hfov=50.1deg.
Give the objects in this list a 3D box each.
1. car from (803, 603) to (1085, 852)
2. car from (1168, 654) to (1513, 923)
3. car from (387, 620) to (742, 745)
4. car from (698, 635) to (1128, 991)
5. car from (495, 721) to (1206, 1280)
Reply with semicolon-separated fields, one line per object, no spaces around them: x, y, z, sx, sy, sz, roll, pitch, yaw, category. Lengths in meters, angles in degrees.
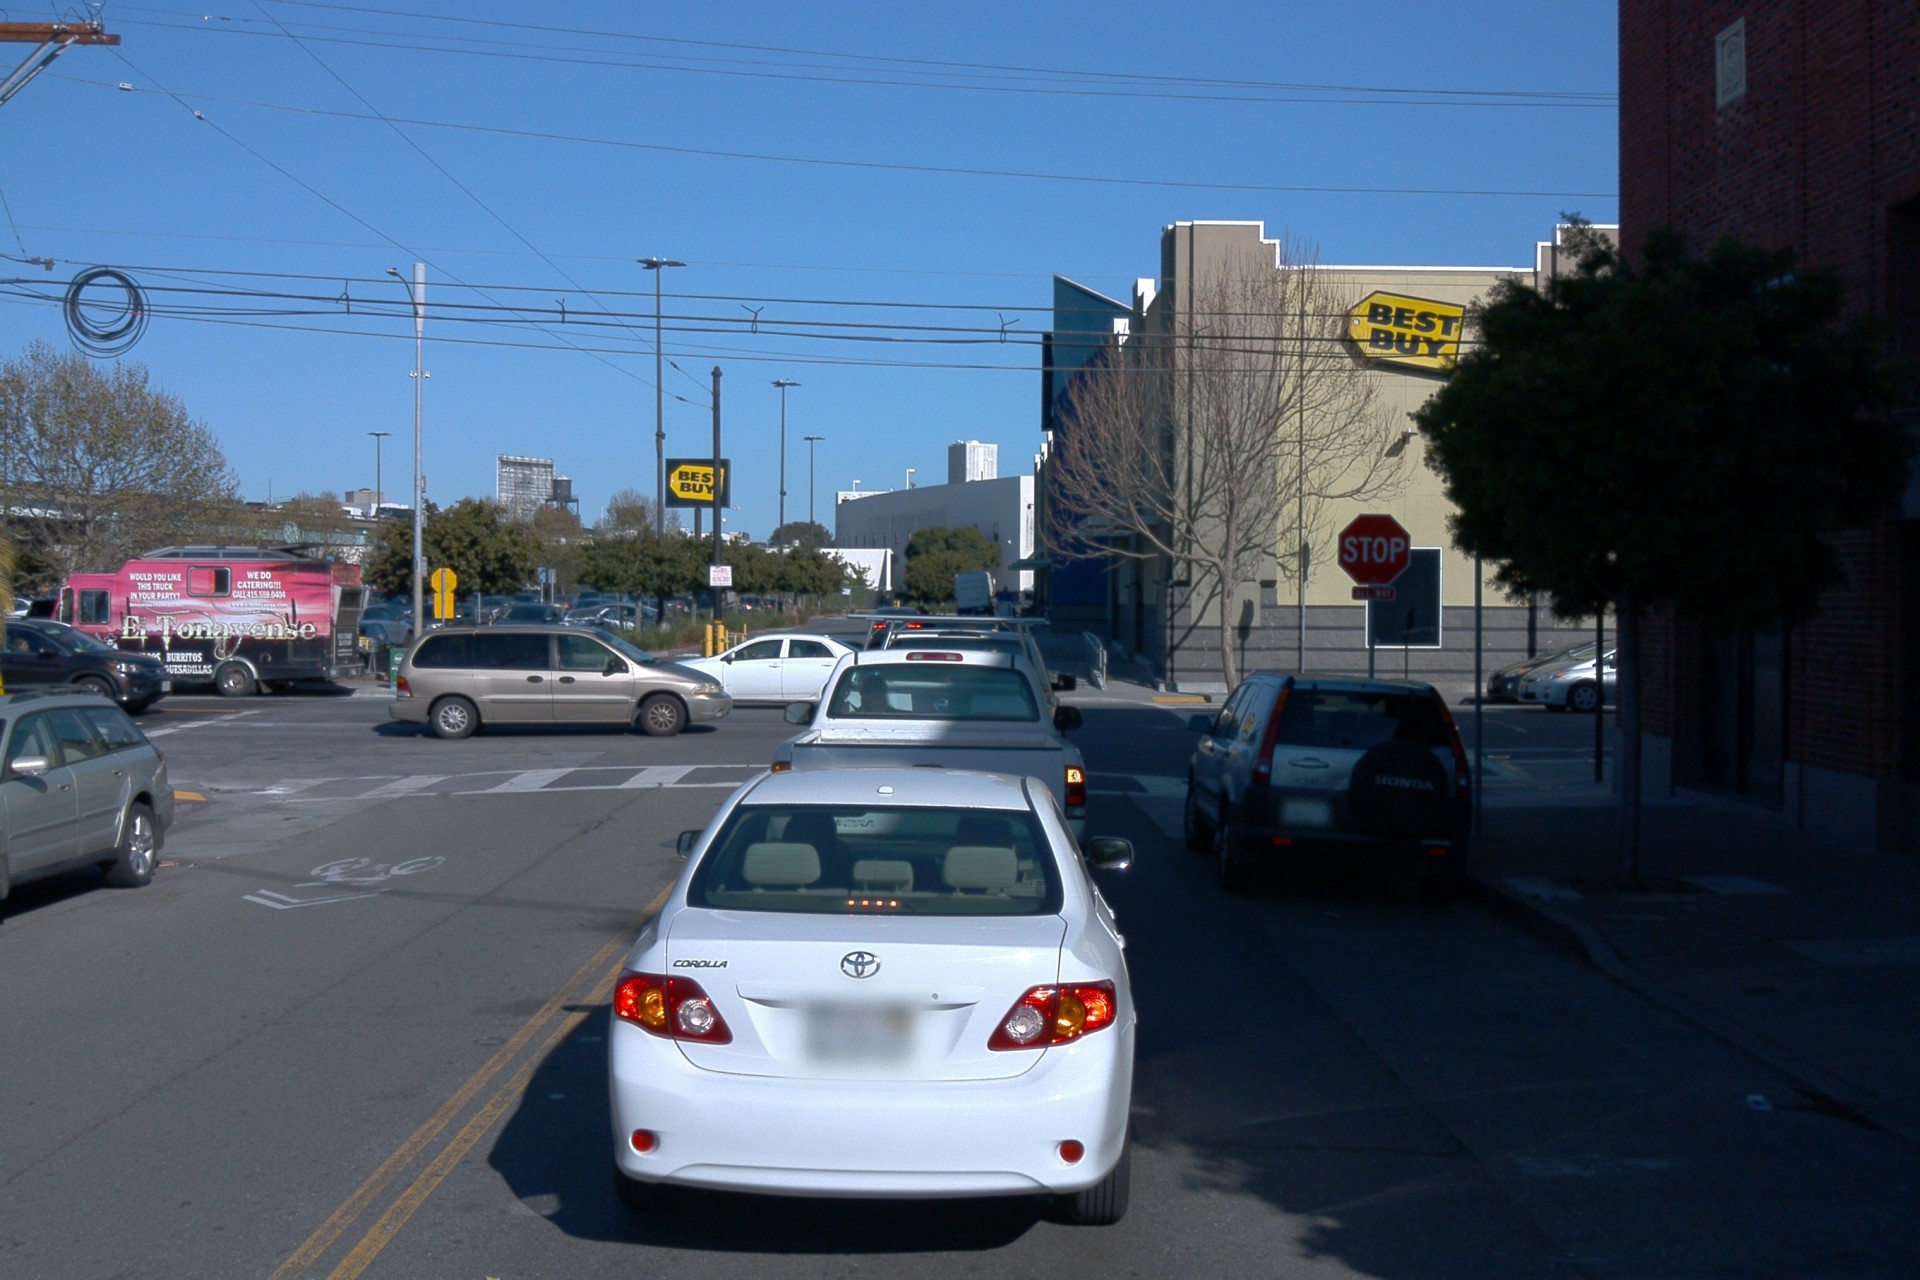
0.024;0.721;20.806;2.386;2.140;5.556;1;1;4;car
2.864;1.049;16.446;2.017;1.730;4.285;1;1;1;car
-6.010;0.635;31.771;5.167;1.770;2.031;1;1;-4;car
-0.245;0.963;14.325;2.386;1.880;5.557;1;1;0;car
-0.275;1.257;8.226;2.045;1.580;4.504;1;1;1;car
